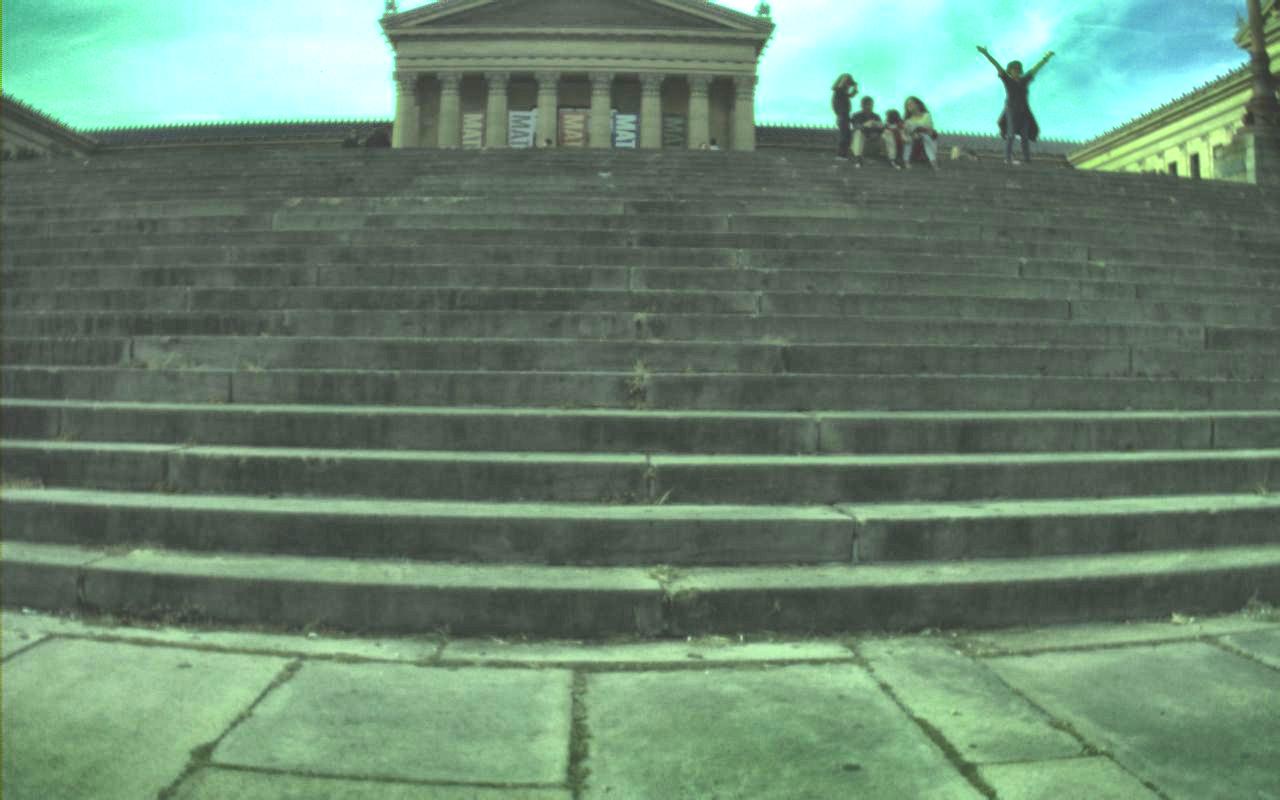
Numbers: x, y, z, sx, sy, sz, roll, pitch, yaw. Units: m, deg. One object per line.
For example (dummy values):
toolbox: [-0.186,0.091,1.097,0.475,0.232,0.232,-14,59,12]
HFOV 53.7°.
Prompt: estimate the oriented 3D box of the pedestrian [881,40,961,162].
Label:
pedestrian: [3.783,-4.012,16.449,0.804,1.503,0.776,0,0,-12]

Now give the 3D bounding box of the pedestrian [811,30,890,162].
pedestrian: [2.794,-4.015,16.334,0.742,1.600,0.722,0,0,-31]

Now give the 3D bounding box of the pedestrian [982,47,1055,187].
pedestrian: [5.472,-4.058,17.343,0.712,1.896,0.715,0,0,-25]
